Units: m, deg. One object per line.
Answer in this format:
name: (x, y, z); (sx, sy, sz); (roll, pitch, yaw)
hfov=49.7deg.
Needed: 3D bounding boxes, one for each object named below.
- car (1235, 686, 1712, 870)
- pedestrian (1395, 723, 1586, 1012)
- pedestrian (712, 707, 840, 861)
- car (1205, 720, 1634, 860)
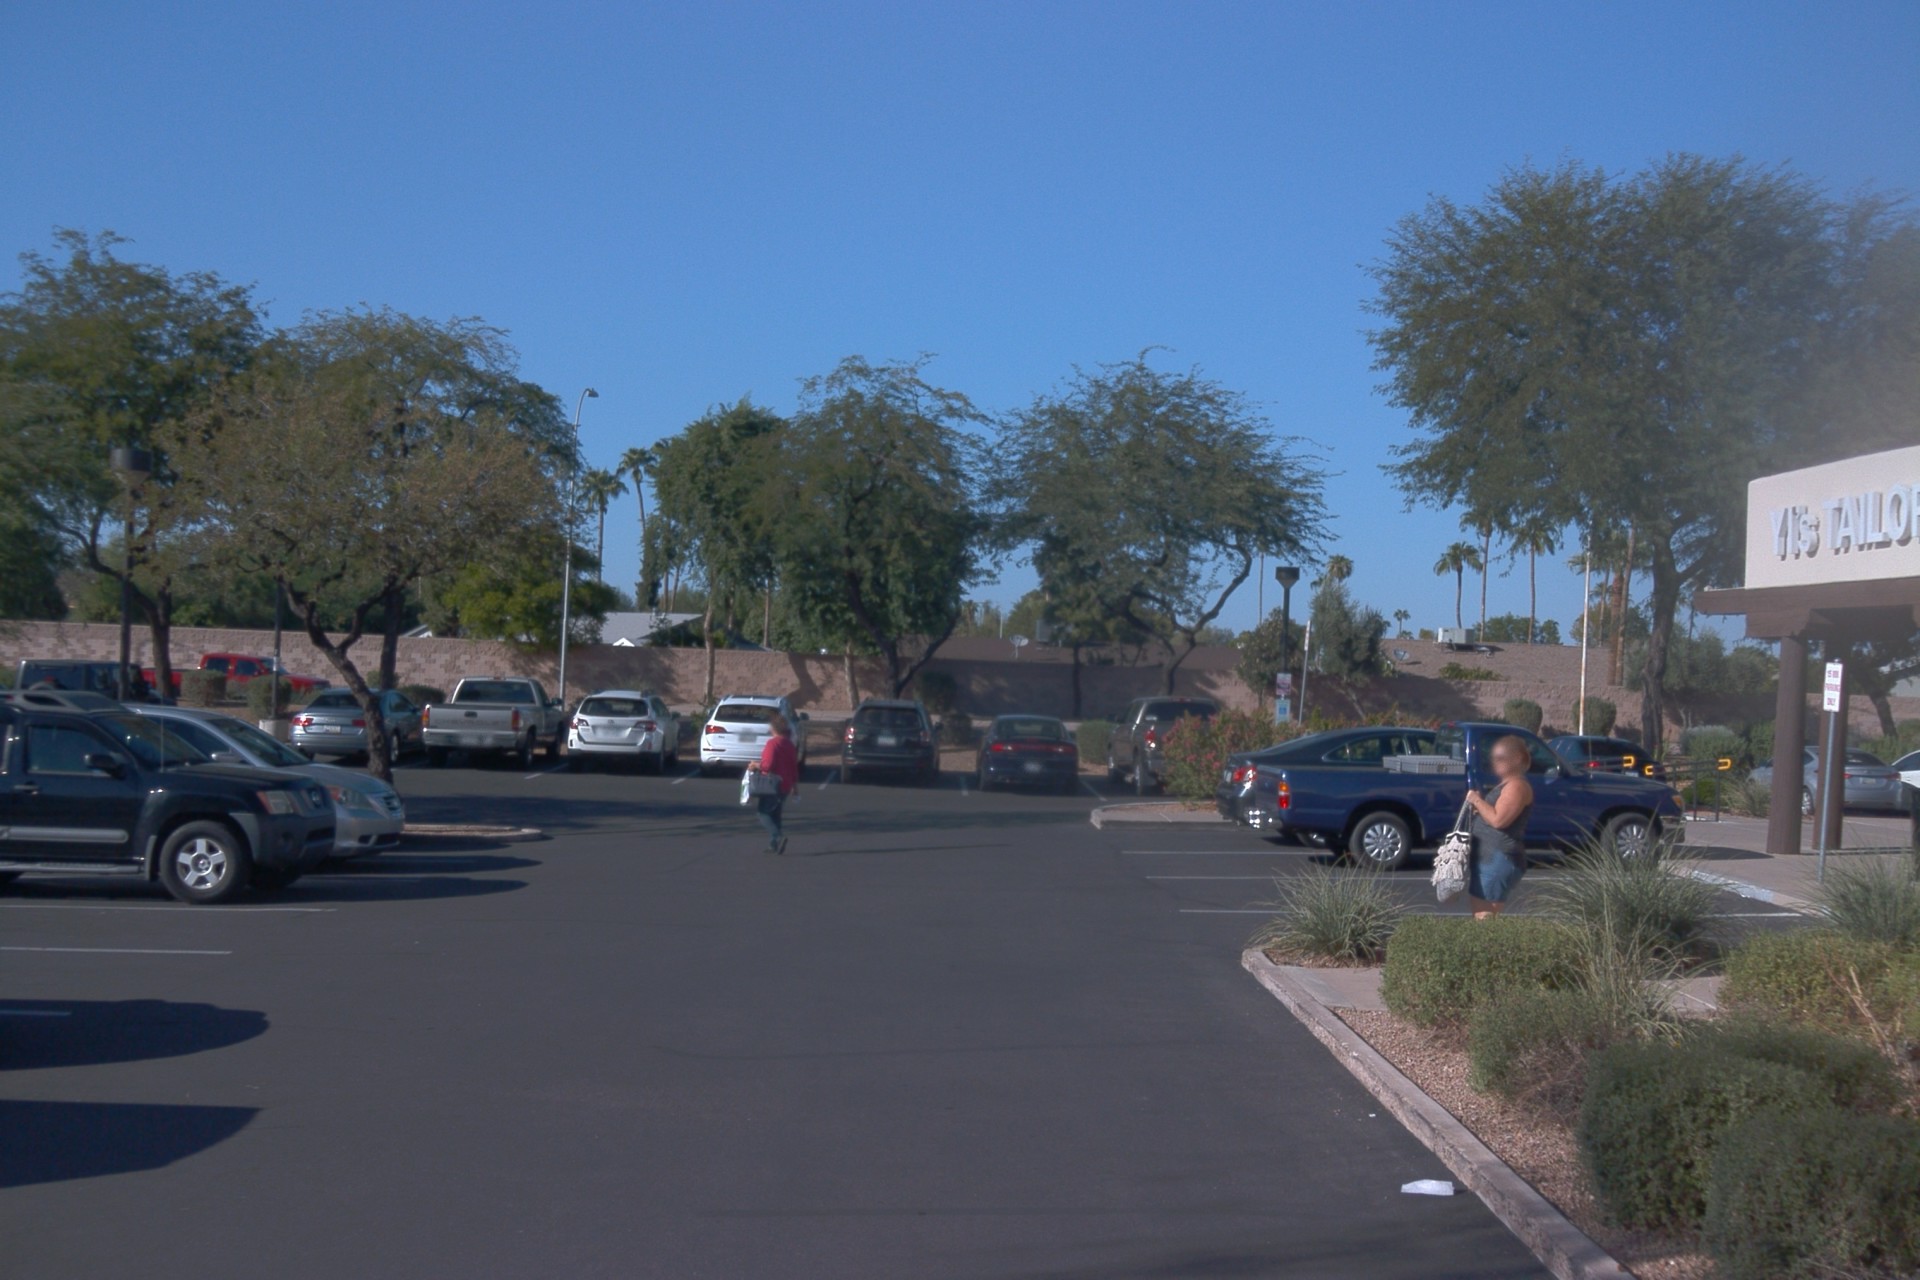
car: (5.527, 1.473, 22.766); (4.685, 1.860, 2.091); (1, -1, -2)
pedestrian: (3.369, 1.419, 13.253); (0.962, 1.750, 0.926); (1, -1, 0)
pedestrian: (-2.099, 1.620, 23.643); (1.039, 1.680, 0.982); (0, -1, 41)
car: (5.557, 1.812, 25.502); (4.780, 1.570, 2.041); (1, -1, -2)
